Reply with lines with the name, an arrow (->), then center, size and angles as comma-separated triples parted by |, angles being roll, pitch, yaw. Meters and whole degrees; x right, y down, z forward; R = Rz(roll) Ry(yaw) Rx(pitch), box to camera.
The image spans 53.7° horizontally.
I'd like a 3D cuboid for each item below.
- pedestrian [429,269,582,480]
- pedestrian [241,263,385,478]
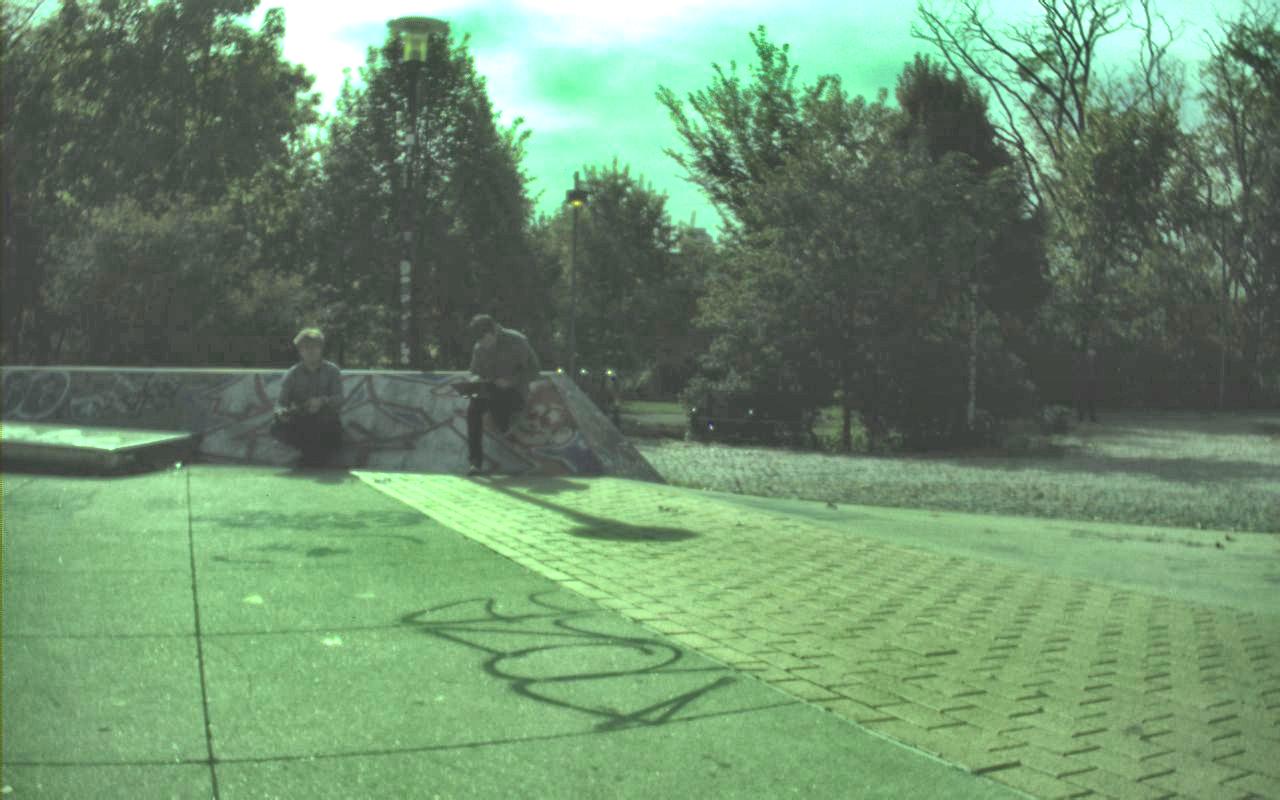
pedestrian -> -1.040, -0.199, 9.680 | 0.813, 1.527, 0.857 | 1, 0, 41
pedestrian -> -2.654, -0.233, 9.926 | 0.833, 1.641, 0.876 | 1, 0, 20
